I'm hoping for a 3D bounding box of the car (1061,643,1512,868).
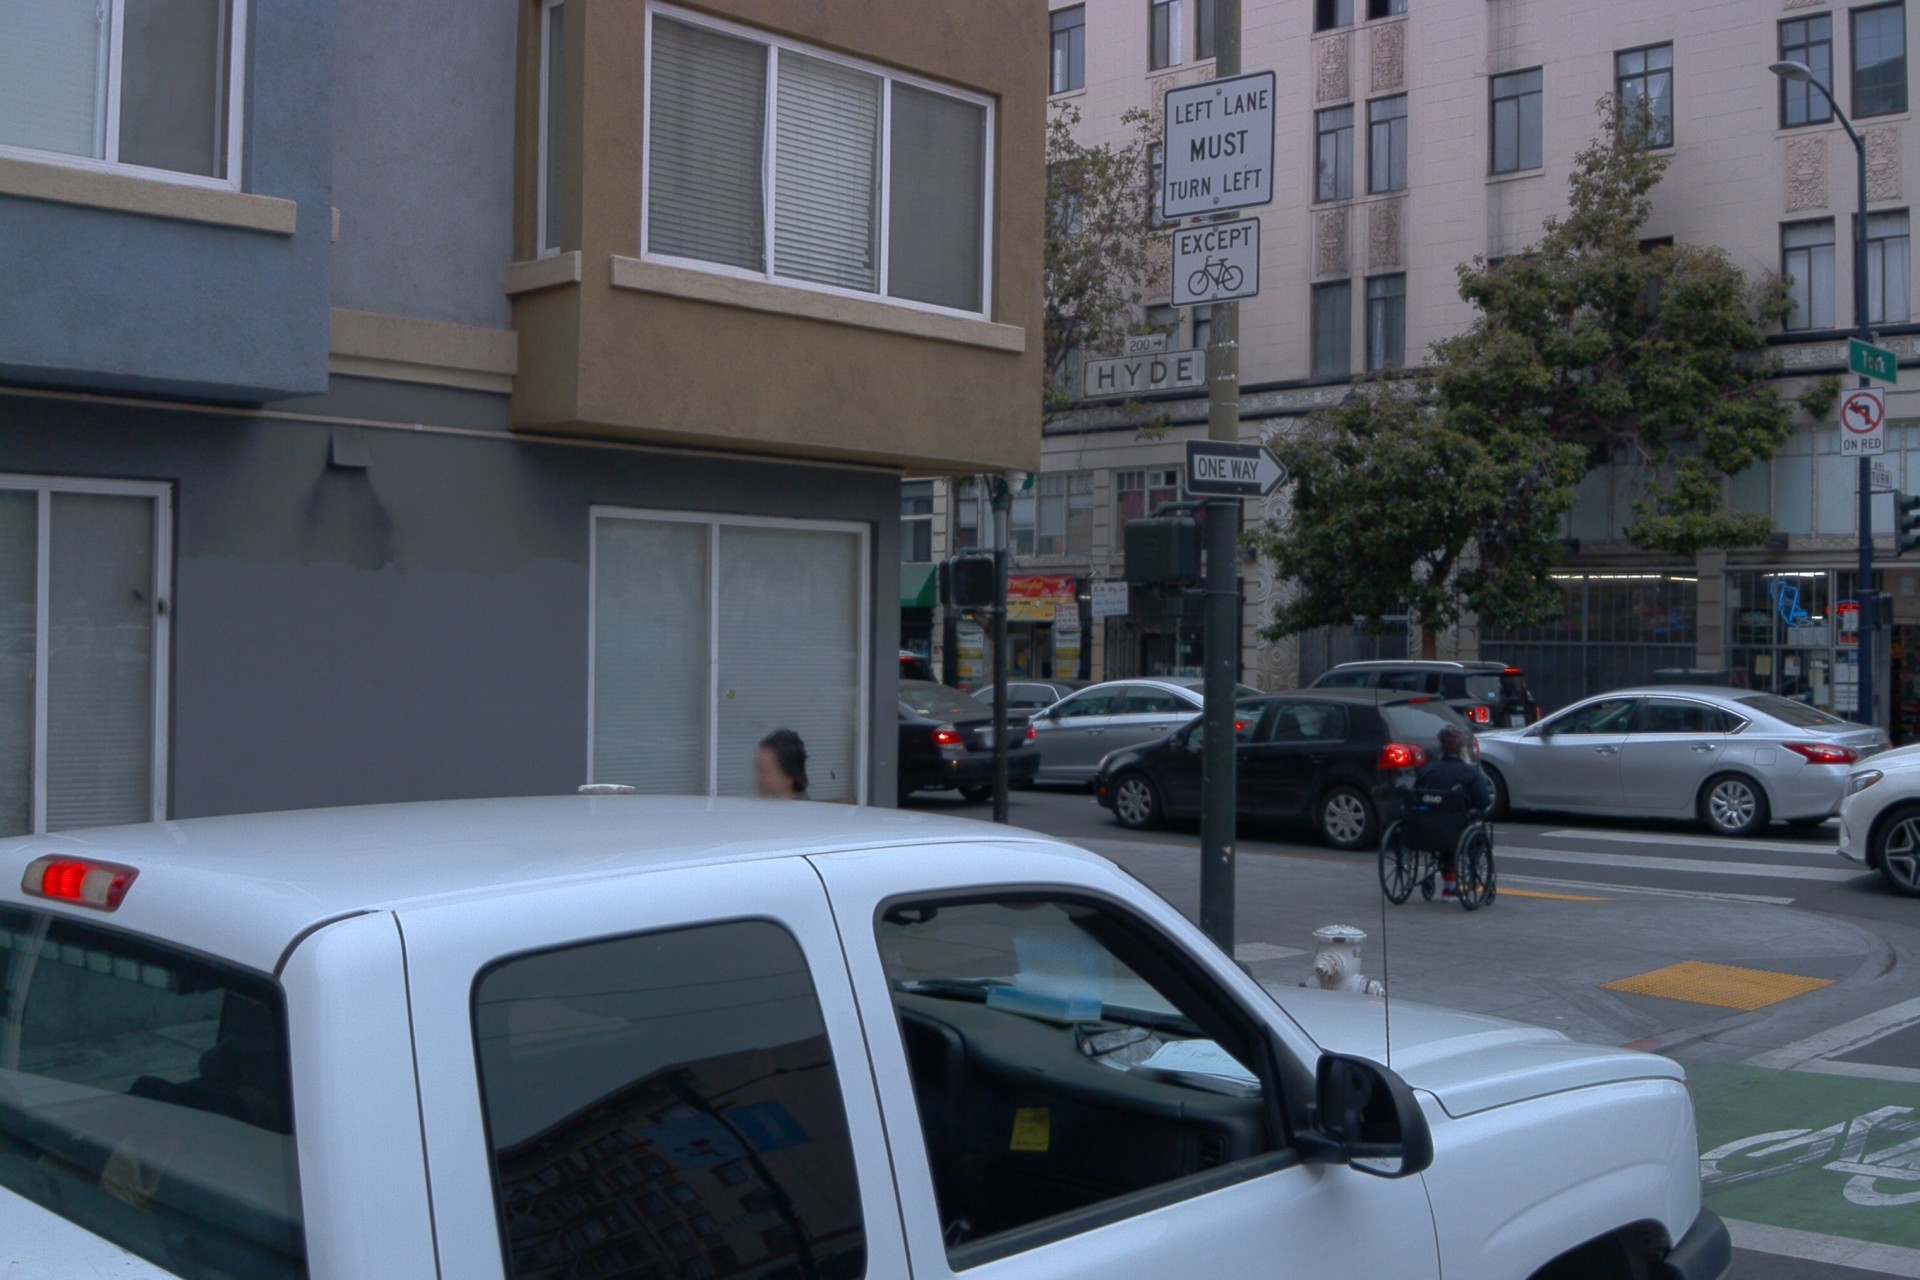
[{"bbox_3d":[3.211,1.053,20.852,4.194,1.950,1.871,1,1,45],"label":"car"}]

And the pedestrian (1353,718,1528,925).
[{"bbox_3d":[3.503,1.287,15.016,0.883,1.370,1.026,1,1,38],"label":"pedestrian"}]

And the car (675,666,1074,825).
[{"bbox_3d":[-1.119,1.192,25.068,4.803,1.600,2.070,1,1,43],"label":"car"}]

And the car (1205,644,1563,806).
[{"bbox_3d":[5.494,1.036,27.099,1.925,1.870,4.231,-1,1,-45],"label":"car"}]

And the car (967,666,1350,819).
[{"bbox_3d":[2.395,1.203,25.833,1.939,1.600,4.599,-1,1,-44],"label":"car"}]

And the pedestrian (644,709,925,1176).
[{"bbox_3d":[-0.744,1.196,8.582,1.096,1.760,0.985,0,1,-8],"label":"pedestrian"}]
